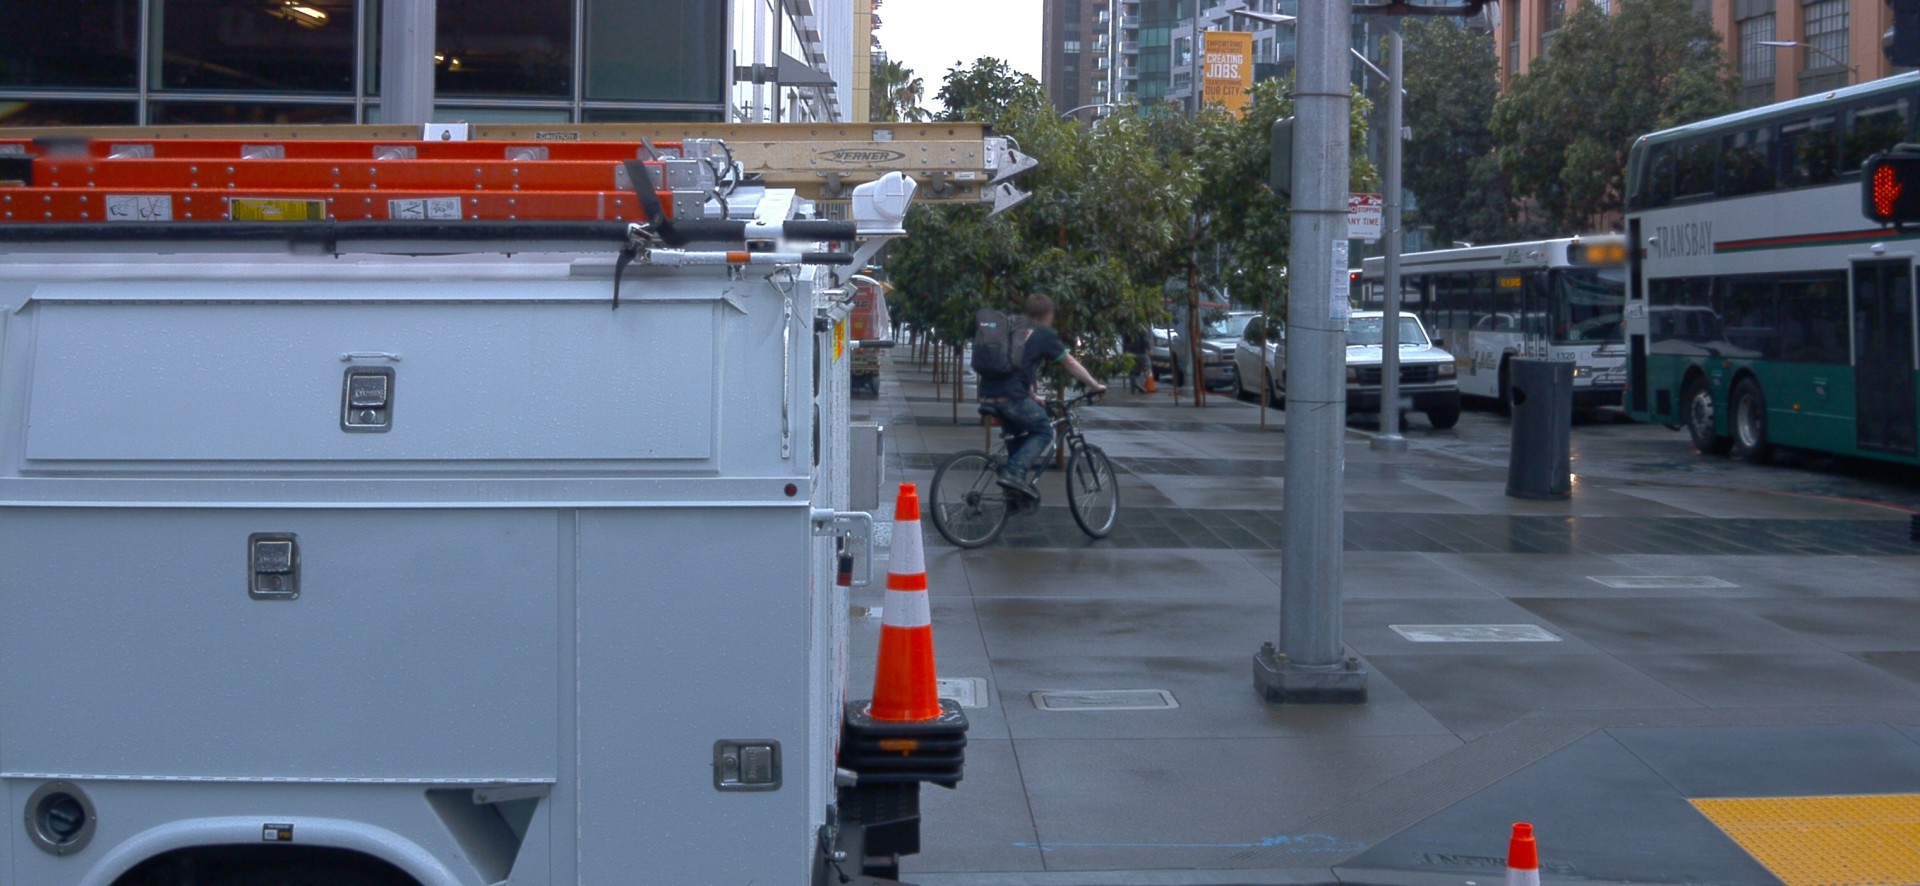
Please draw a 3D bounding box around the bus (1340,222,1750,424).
[{"bbox_3d":[9.869,-2.430,36.863,3.258,2.996,12.707,0,6,-2],"label":"bus"}]

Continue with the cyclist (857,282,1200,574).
[{"bbox_3d":[0.480,-0.180,13.774,2.029,1.742,1.210,-3,4,-42],"label":"cyclist"}]

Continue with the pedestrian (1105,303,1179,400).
[{"bbox_3d":[3.494,-1.771,39.424,1.007,1.768,1.087,2,2,35],"label":"pedestrian"}]
